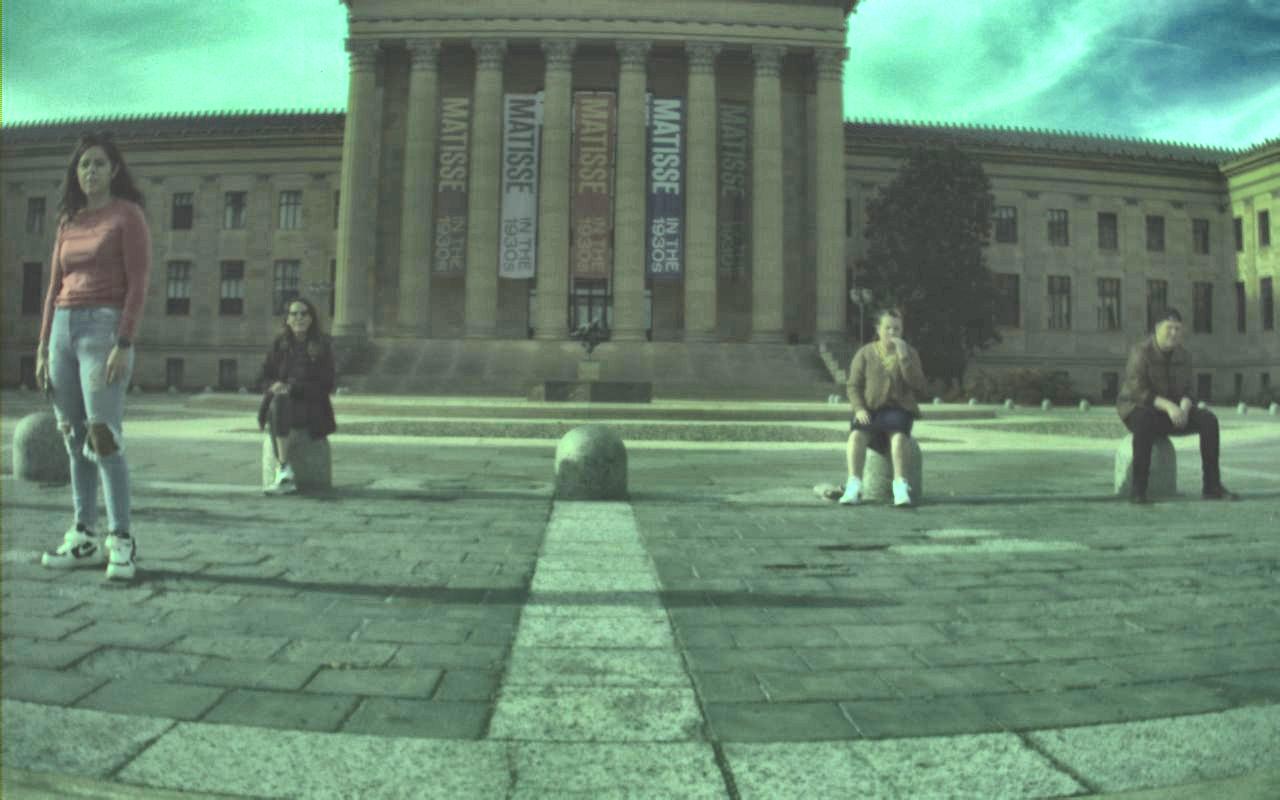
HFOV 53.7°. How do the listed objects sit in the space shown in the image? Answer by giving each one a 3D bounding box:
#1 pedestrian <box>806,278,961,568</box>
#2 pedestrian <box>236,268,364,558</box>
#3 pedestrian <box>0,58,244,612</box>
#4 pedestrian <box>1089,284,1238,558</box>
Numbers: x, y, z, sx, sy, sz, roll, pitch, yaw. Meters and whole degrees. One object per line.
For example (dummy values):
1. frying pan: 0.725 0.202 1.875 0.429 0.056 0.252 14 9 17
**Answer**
1. pedestrian: 1.536 0.137 7.910 0.780 1.739 0.782 0 0 -7
2. pedestrian: -2.173 0.082 7.738 0.800 1.756 0.798 0 0 -17
3. pedestrian: -1.967 -0.219 4.179 0.780 1.805 0.793 0 0 9
4. pedestrian: 3.508 0.143 7.863 0.786 1.740 0.806 0 0 2
